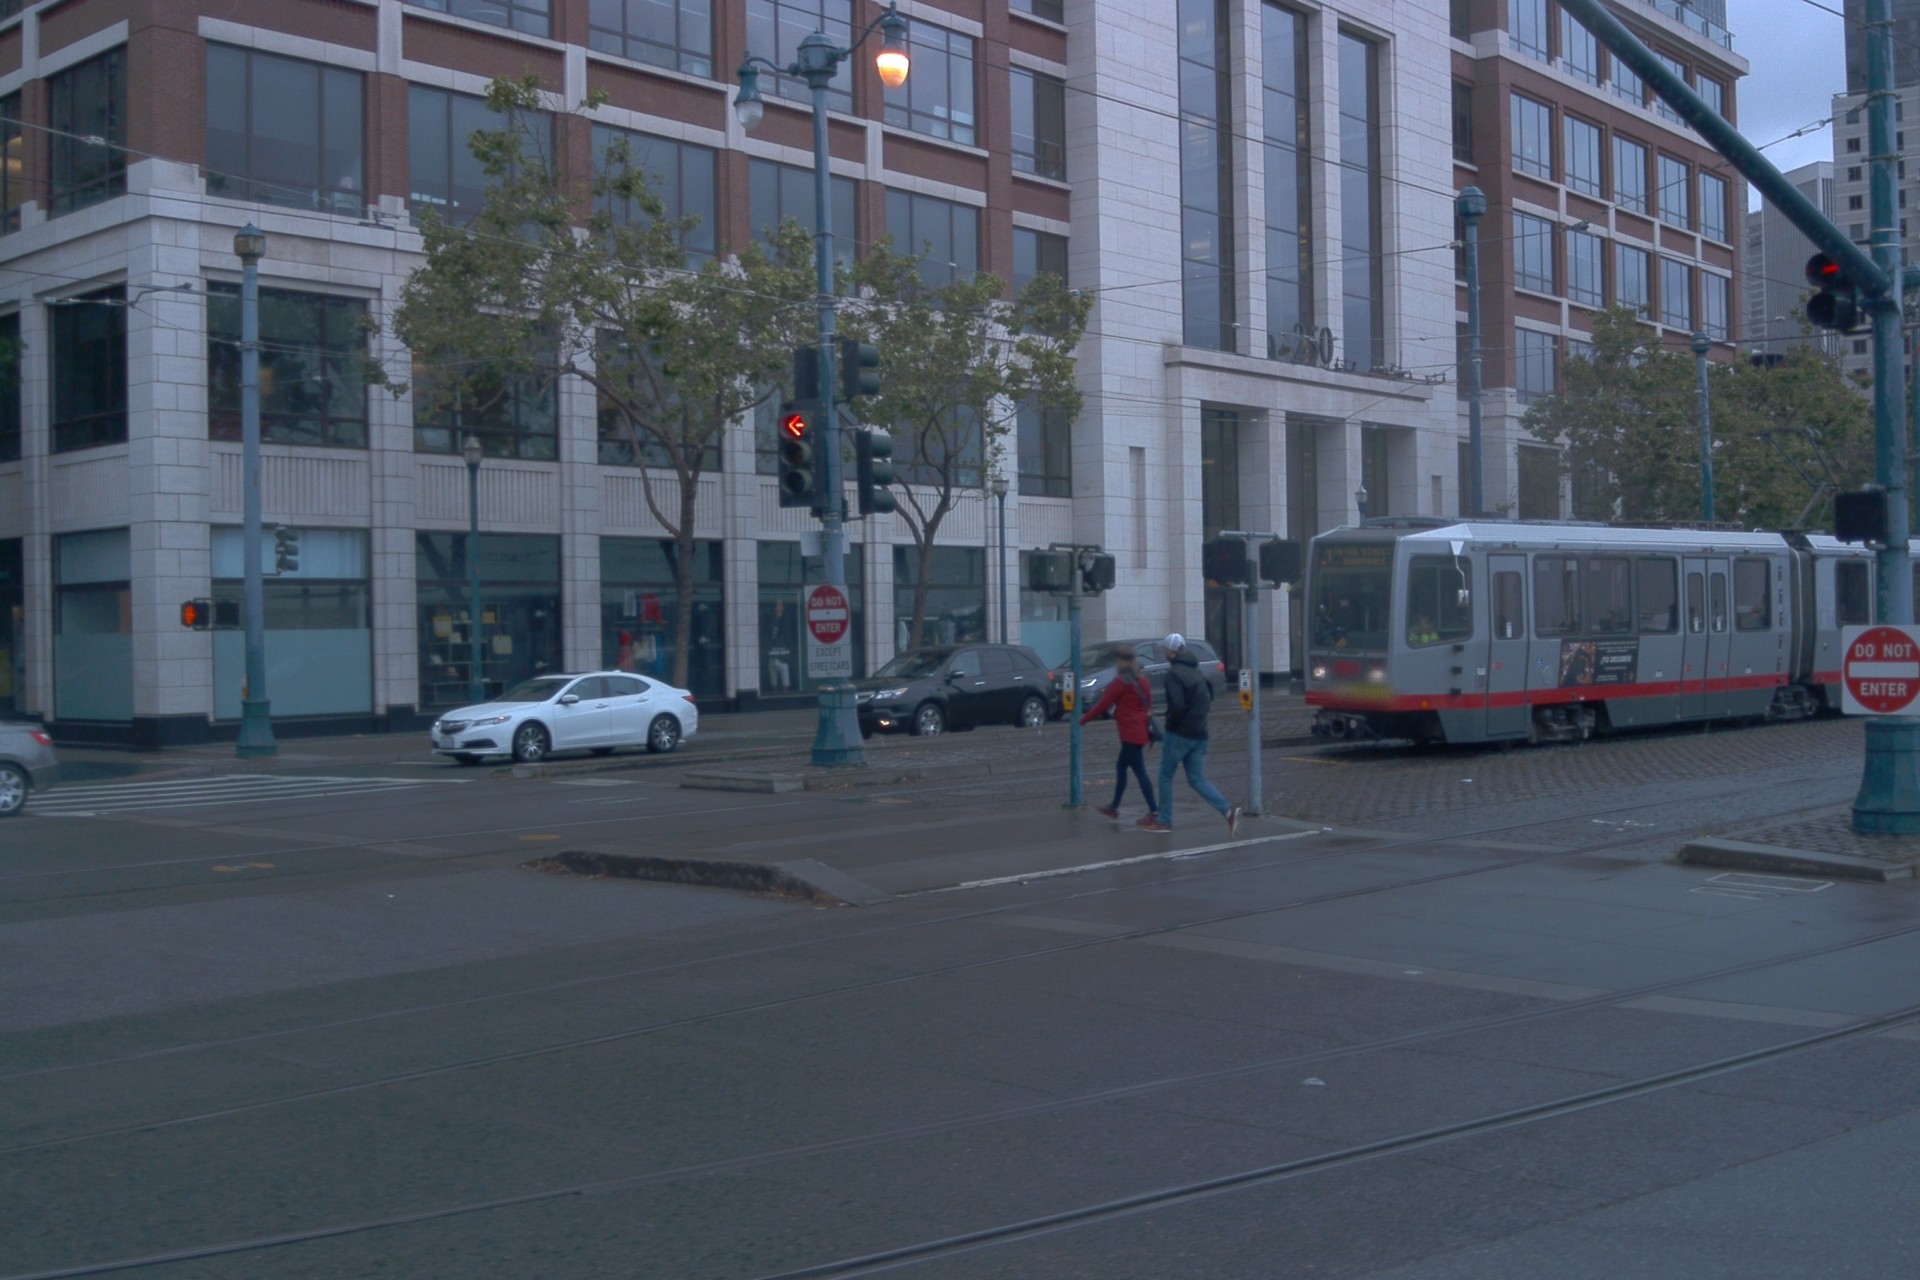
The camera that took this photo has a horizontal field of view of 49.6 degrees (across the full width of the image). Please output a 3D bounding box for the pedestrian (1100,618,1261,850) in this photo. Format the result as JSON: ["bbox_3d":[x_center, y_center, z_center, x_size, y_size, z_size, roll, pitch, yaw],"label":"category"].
[{"bbox_3d":[1.975,0.807,18.592,1.166,2.000,0.835,0,0,35],"label":"pedestrian"}]

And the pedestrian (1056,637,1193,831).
[{"bbox_3d":[1.551,0.857,19.591,0.978,1.770,0.836,0,0,40],"label":"pedestrian"}]

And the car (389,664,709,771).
[{"bbox_3d":[-6.706,1.221,34.392,2.139,1.580,4.913,0,0,40],"label":"car"}]

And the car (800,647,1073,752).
[{"bbox_3d":[-0.345,0.994,36.953,2.143,1.710,4.852,0,0,42],"label":"car"}]
